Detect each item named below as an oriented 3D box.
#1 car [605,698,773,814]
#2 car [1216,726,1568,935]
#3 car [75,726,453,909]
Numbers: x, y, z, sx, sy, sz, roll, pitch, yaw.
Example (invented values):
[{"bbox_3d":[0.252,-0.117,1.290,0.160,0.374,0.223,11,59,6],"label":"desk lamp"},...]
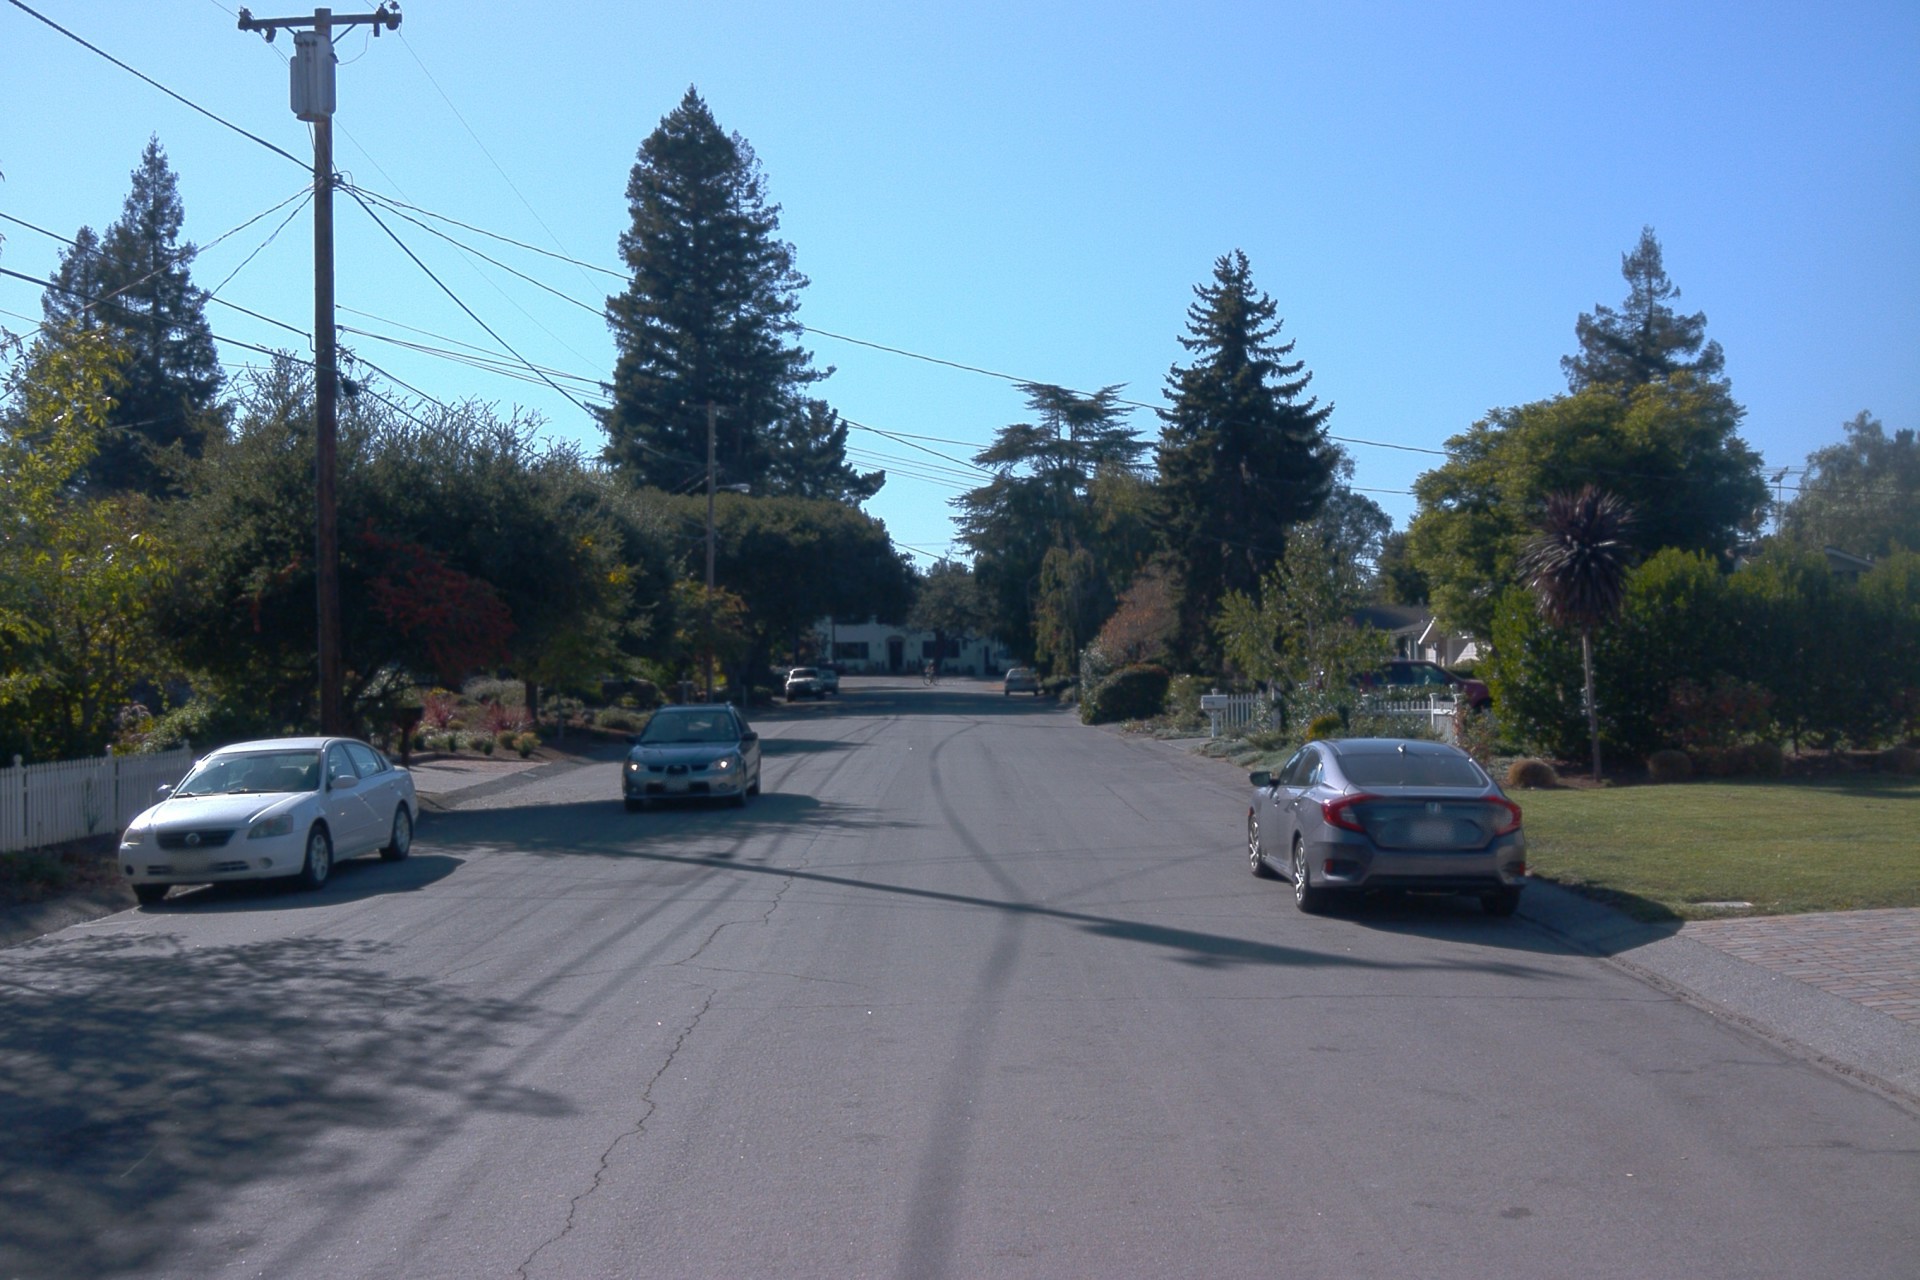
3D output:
[{"bbox_3d":[-3.944,1.660,30.816,1.989,1.520,4.441,0,-1,-1],"label":"car"},{"bbox_3d":[3.626,1.567,18.366,2.130,1.460,4.738,0,-1,0],"label":"car"},{"bbox_3d":[-7.074,1.751,21.720,2.161,1.530,4.990,0,-1,2],"label":"car"}]
